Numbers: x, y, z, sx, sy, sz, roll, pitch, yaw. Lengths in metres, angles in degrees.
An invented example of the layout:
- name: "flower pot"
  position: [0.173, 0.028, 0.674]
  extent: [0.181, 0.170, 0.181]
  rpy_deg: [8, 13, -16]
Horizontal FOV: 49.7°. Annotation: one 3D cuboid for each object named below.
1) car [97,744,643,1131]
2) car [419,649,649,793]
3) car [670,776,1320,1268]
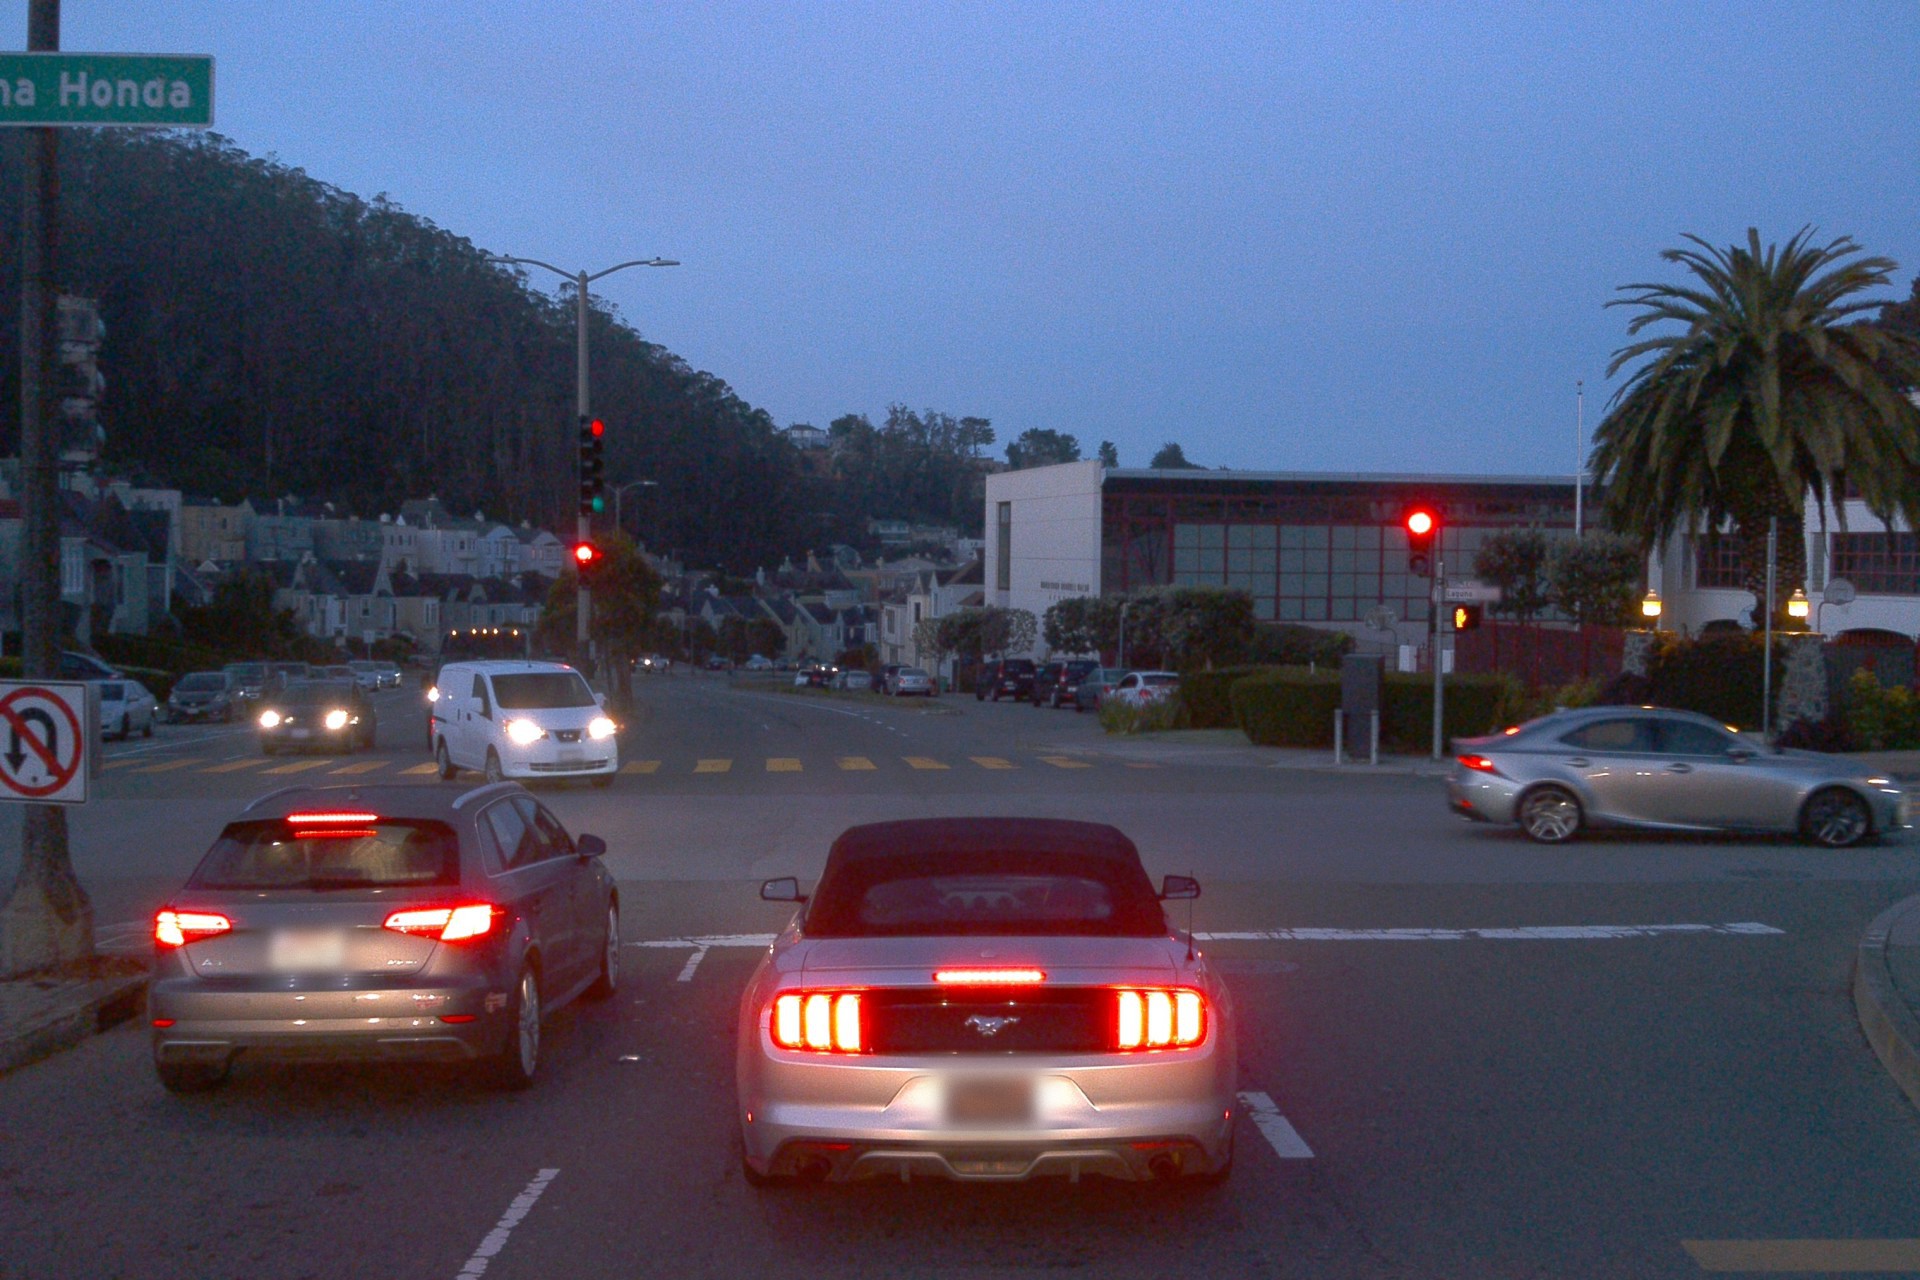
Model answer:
- name: "car"
  position: [-2.886, 1.403, 11.058]
  extent: [1.782, 1.510, 3.987]
  rpy_deg: [0, 0, 0]
- name: "car"
  position: [-6.530, 1.138, 31.300]
  extent: [2.099, 2.000, 4.848]
  rpy_deg: [0, 0, -28]
- name: "car"
  position: [0.099, 1.421, 9.110]
  extent: [2.174, 1.380, 4.355]
  rpy_deg: [0, 0, 0]
